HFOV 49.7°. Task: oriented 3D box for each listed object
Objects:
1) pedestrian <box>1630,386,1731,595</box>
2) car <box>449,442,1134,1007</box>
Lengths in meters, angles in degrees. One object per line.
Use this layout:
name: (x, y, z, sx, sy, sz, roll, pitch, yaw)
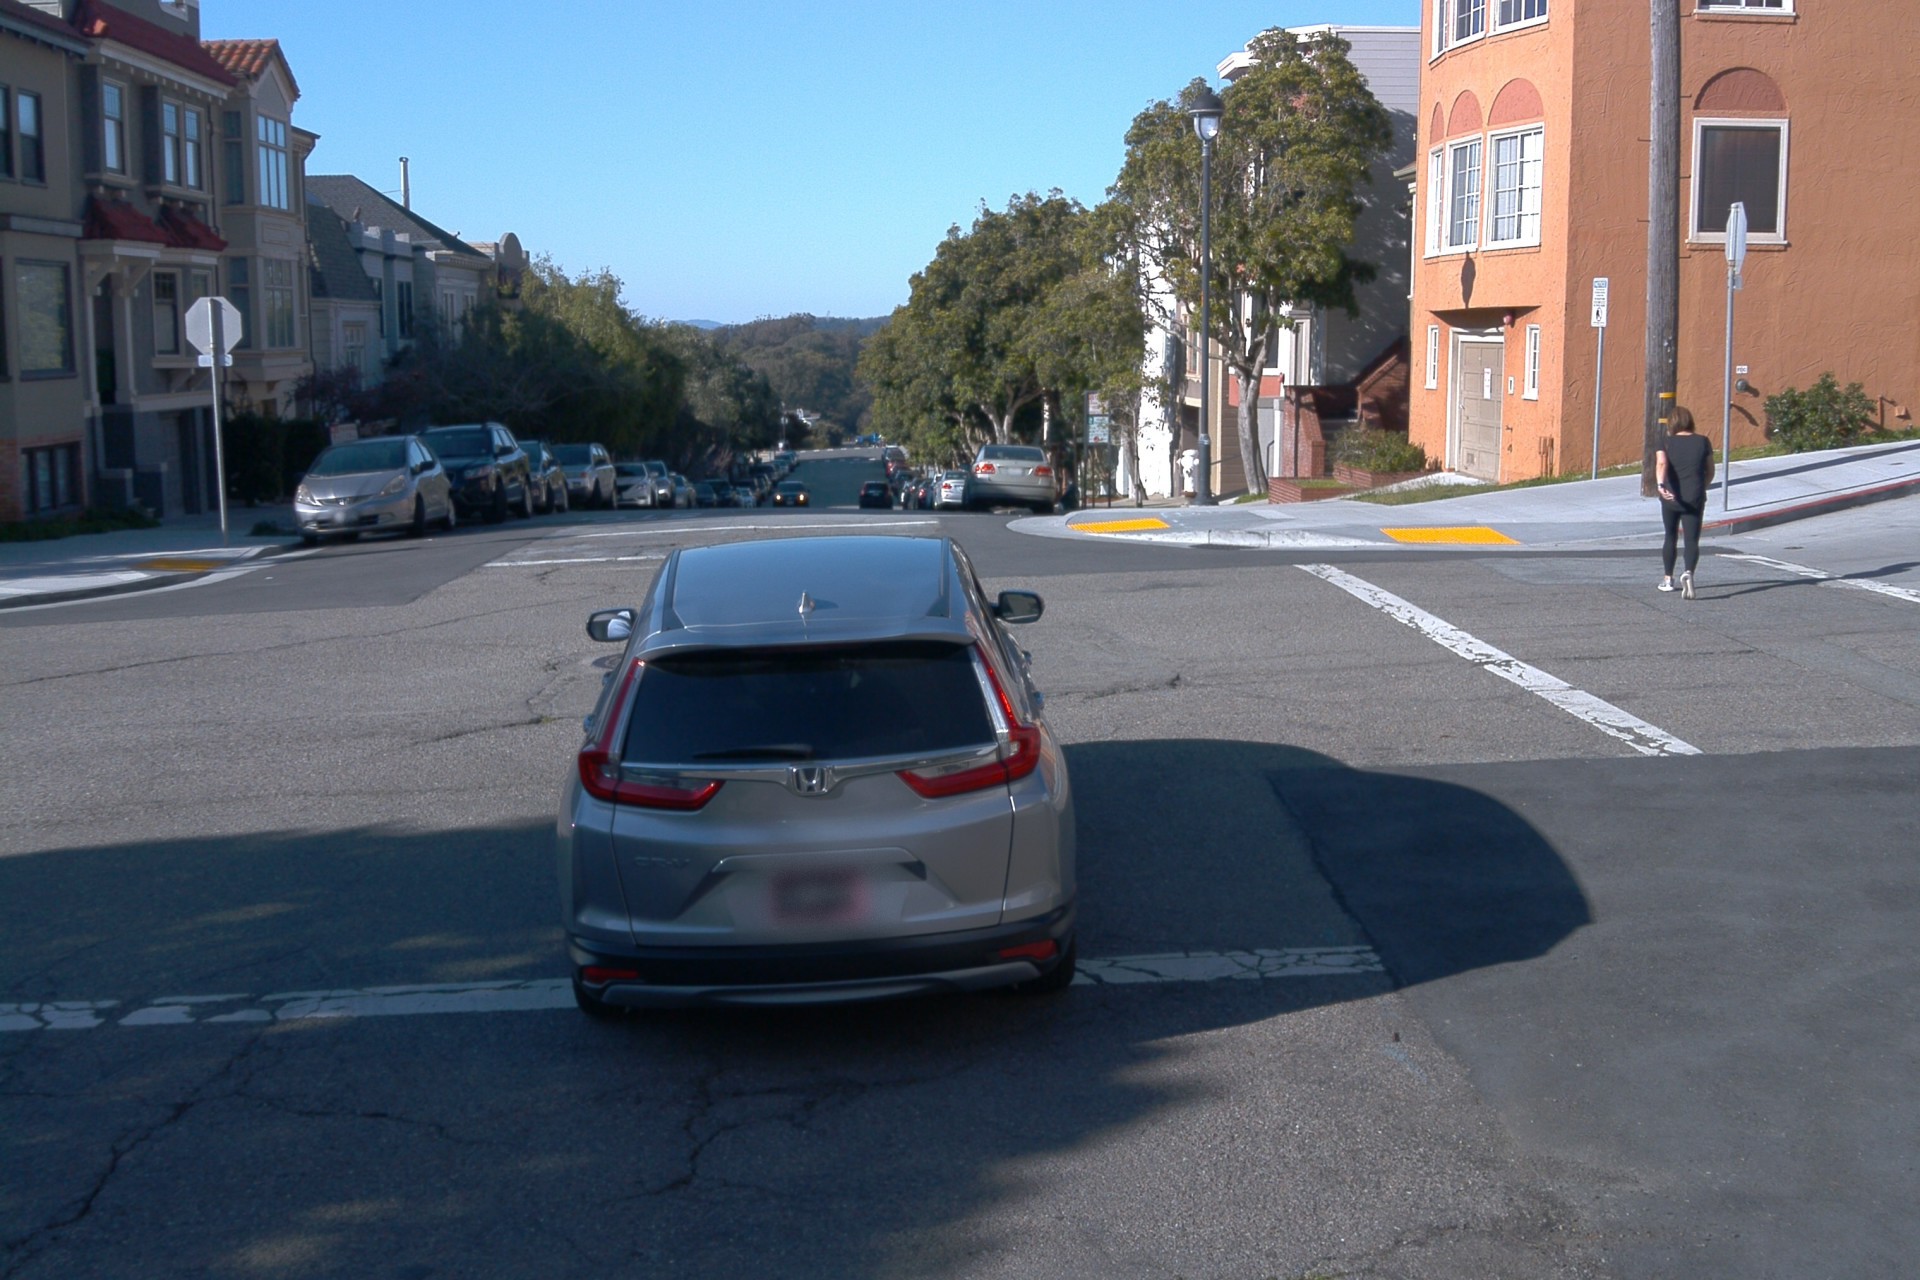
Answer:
pedestrian: (5.938, -1.203, 17.118, 0.731, 1.620, 1.128, 0, 0, 16)
car: (-0.647, 0.282, 8.989, 2.190, 1.800, 4.696, 0, 0, -3)
